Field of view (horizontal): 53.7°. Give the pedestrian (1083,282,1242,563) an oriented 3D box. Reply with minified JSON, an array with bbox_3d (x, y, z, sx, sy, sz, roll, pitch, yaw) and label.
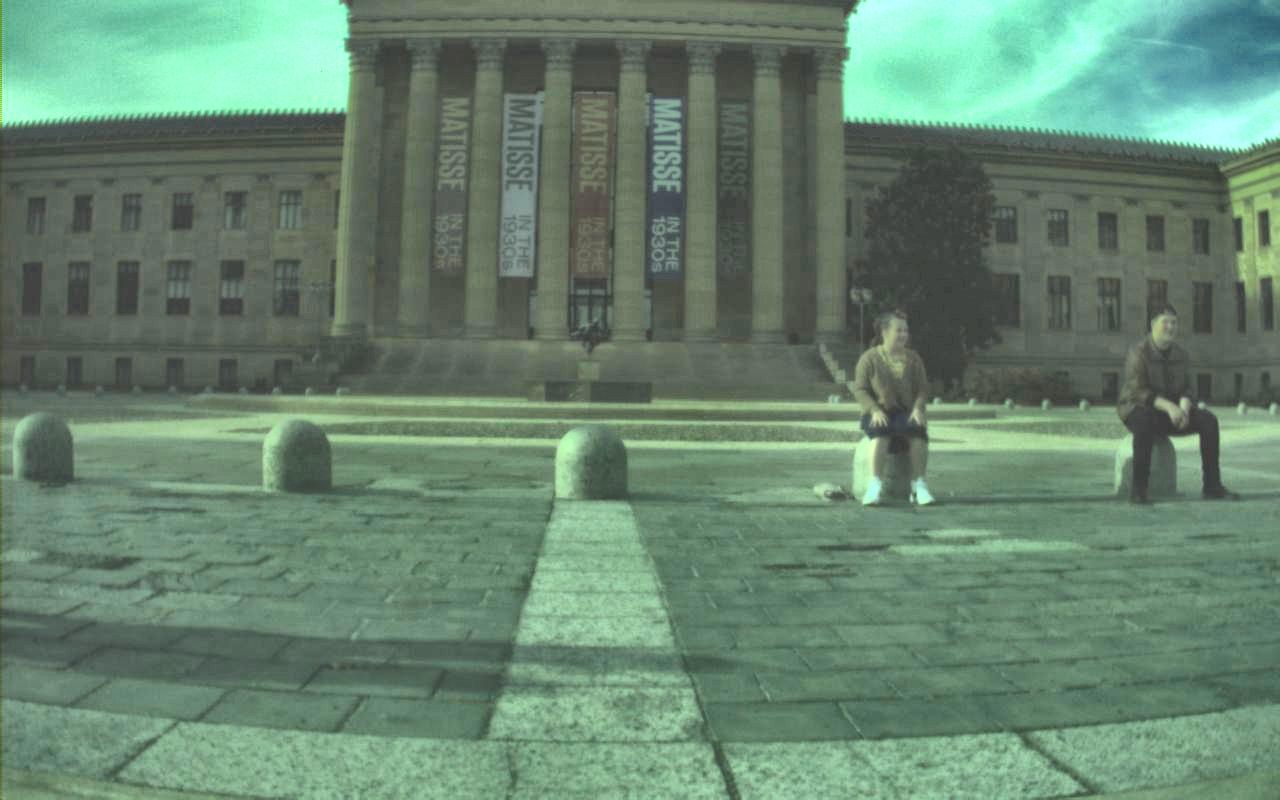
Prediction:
[{"bbox_3d":[3.512,0.152,7.890,0.842,1.783,0.841,0,0,0],"label":"pedestrian"}]

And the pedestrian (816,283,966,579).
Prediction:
[{"bbox_3d":[1.584,0.188,7.928,0.844,1.792,0.831,0,0,3],"label":"pedestrian"}]
